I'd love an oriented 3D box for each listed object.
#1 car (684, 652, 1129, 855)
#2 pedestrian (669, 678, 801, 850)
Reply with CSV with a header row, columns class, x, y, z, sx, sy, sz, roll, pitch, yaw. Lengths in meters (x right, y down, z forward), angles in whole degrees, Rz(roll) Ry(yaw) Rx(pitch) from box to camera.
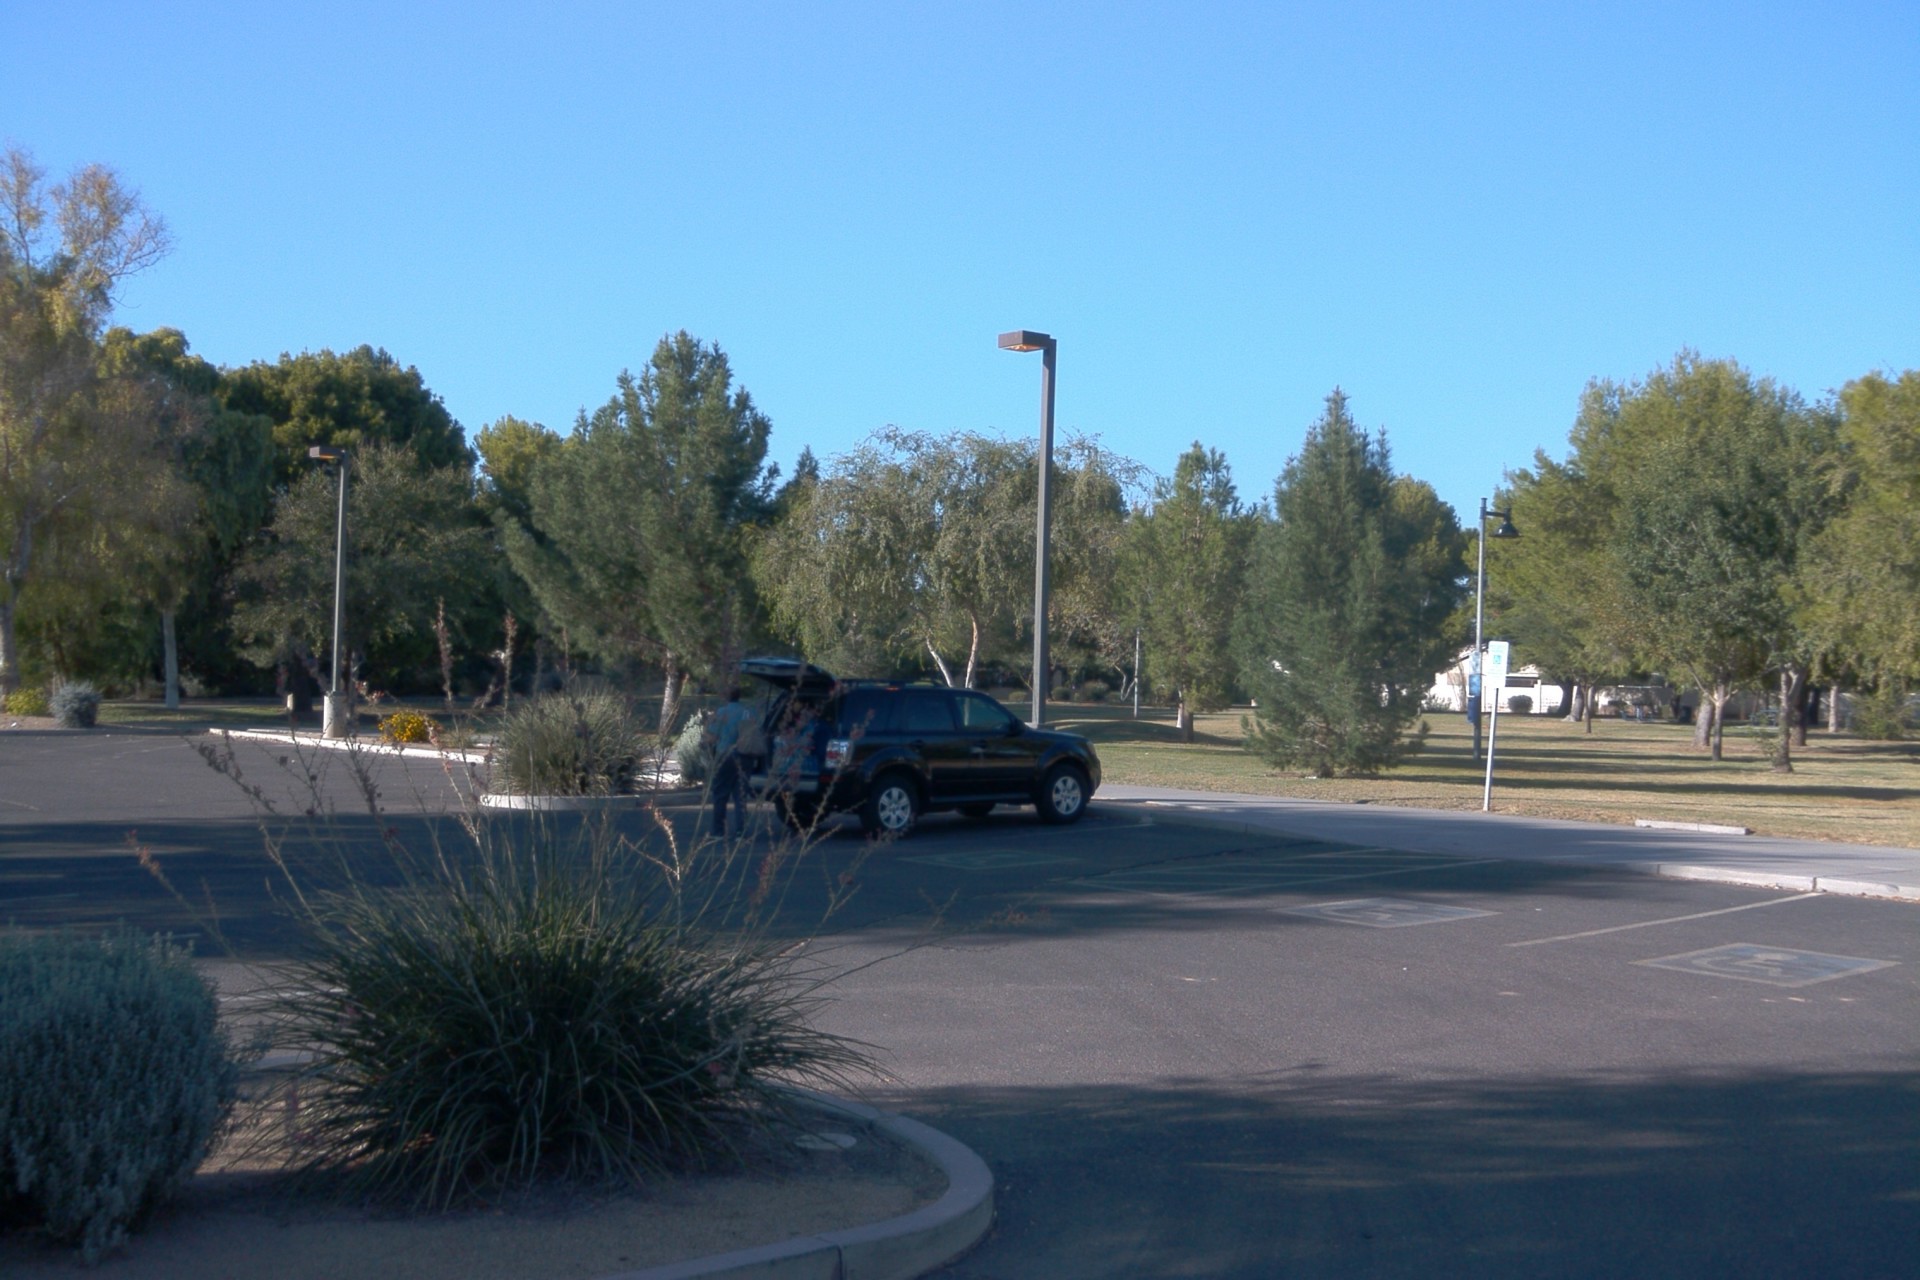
class,x,y,z,sx,sy,sz,roll,pitch,yaw
car,-0.534,1.210,24.014,4.899,2.100,2.055,1,0,-40
pedestrian,-2.455,1.325,22.688,0.996,1.790,1.004,0,0,44
